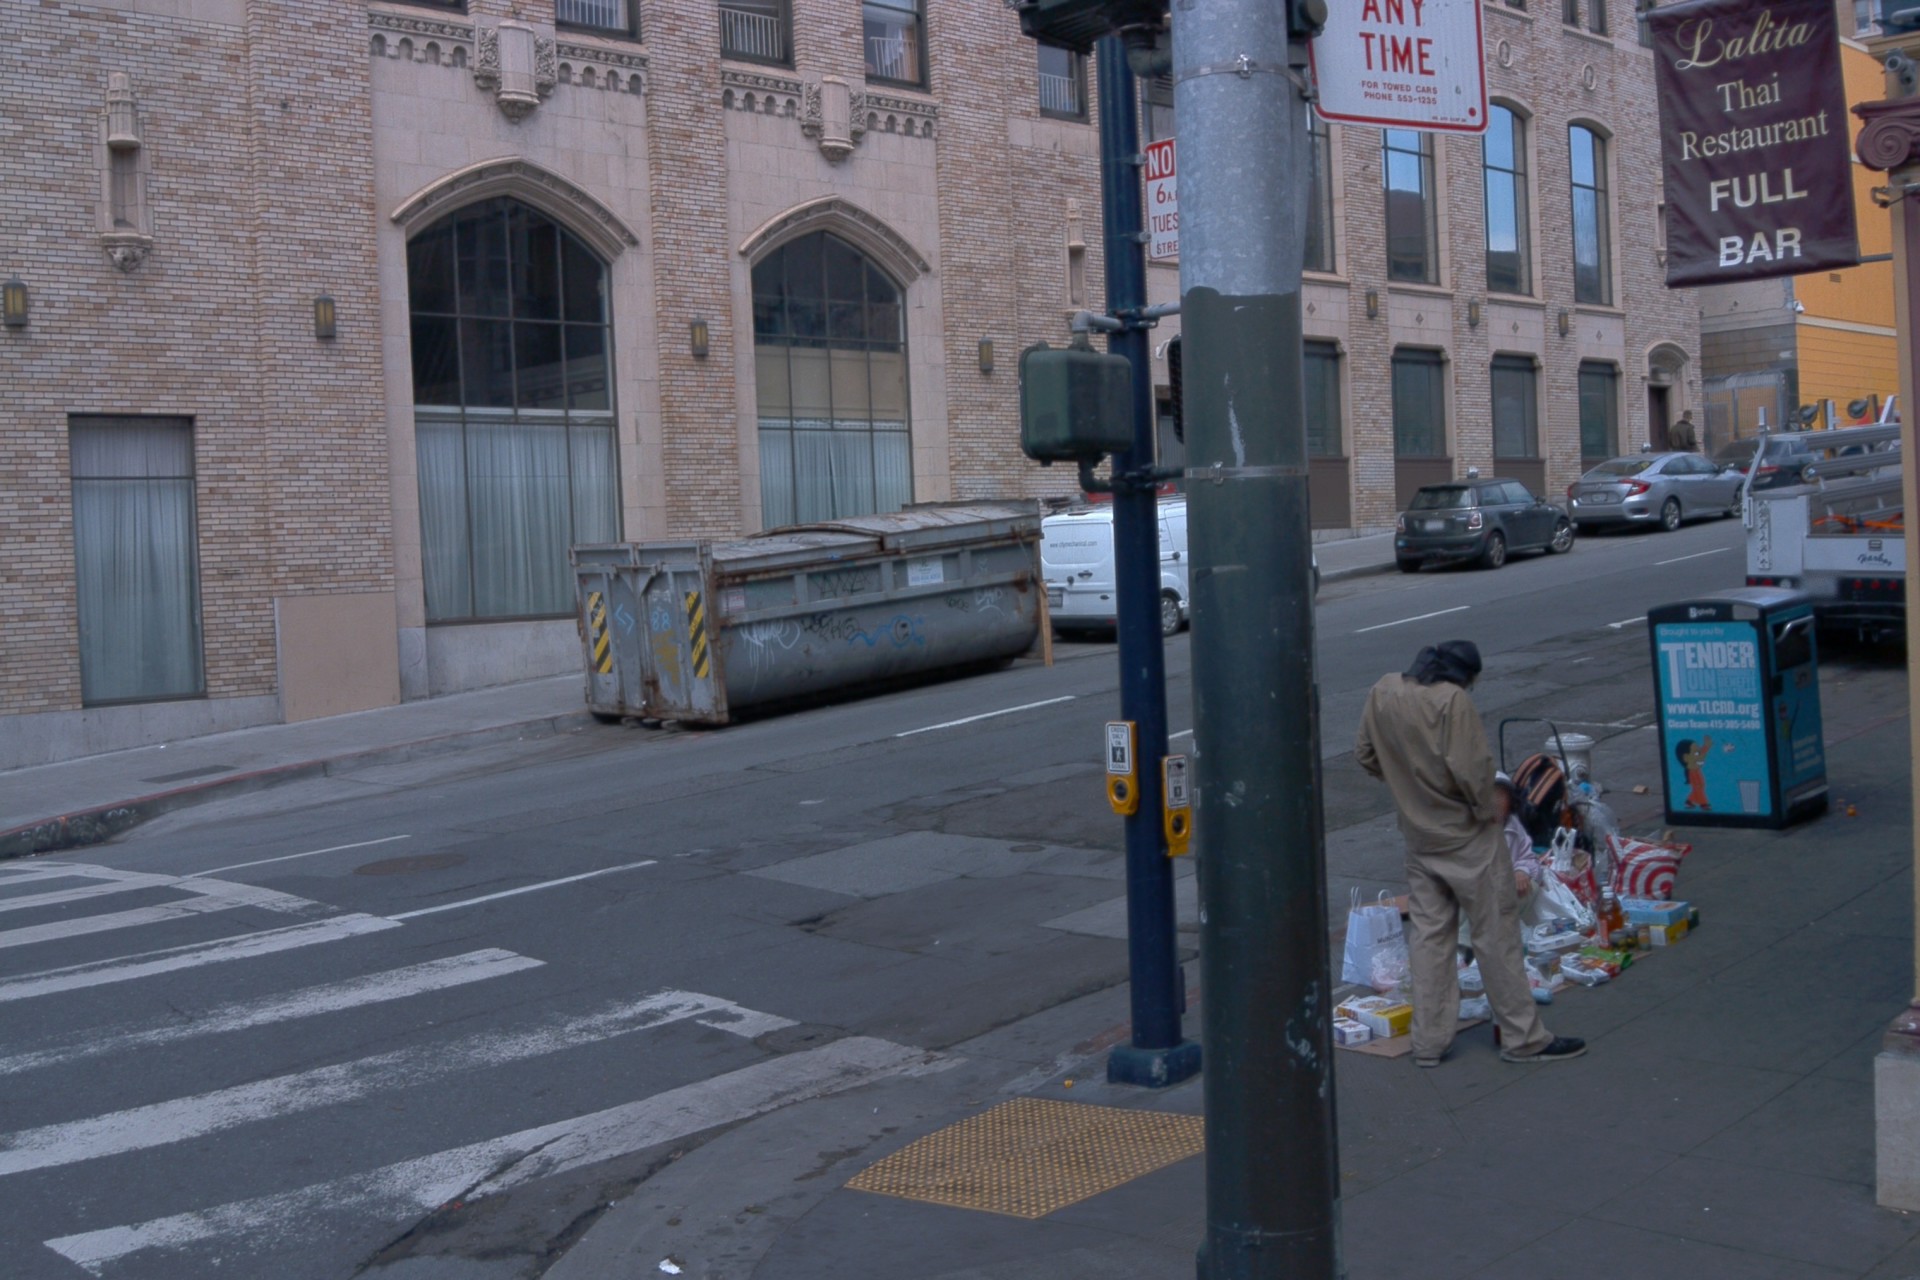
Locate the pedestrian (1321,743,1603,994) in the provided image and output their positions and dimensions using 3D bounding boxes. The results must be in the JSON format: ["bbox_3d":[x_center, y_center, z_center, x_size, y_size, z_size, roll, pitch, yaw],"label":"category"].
[{"bbox_3d":[2.226,0.977,9.133,0.871,0.970,0.871,0,0,-42],"label":"pedestrian"}]

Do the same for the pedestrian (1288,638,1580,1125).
[{"bbox_3d":[1.776,0.830,7.648,0.889,1.670,0.837,0,0,26],"label":"pedestrian"}]

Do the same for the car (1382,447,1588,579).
[{"bbox_3d":[8.693,-2.035,33.893,1.744,1.980,3.738,0,1,42],"label":"car"}]

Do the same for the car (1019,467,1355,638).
[{"bbox_3d":[3.222,-1.136,28.511,4.848,2.170,2.020,-1,1,-45],"label":"car"}]
